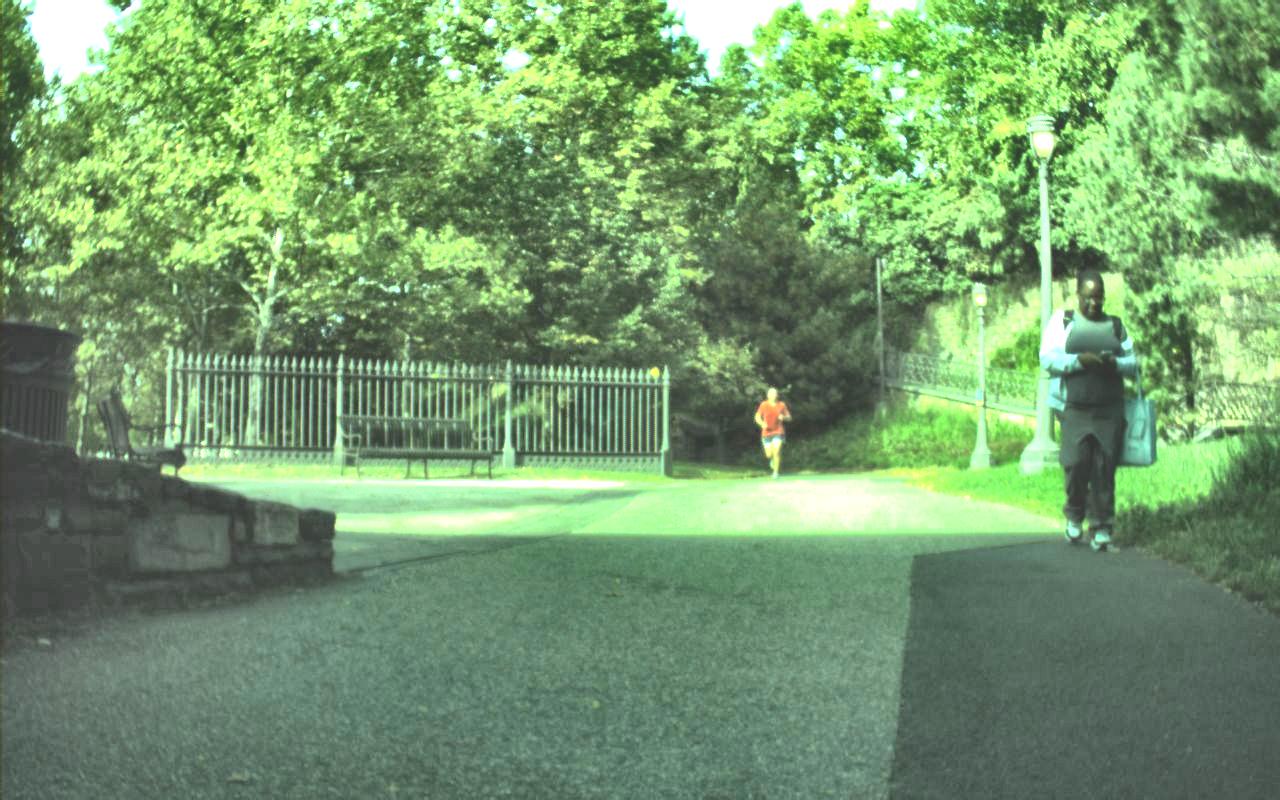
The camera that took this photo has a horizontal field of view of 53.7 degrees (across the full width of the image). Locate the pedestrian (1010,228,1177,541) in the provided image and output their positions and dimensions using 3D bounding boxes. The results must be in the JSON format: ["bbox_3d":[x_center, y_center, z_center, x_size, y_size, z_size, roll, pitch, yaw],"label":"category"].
[{"bbox_3d":[2.659,-0.083,7.033,0.810,1.722,0.835,0,0,4],"label":"pedestrian"}]

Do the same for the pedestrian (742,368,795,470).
[{"bbox_3d":[2.430,0.337,23.677,0.806,1.869,0.876,1,0,18],"label":"pedestrian"}]
